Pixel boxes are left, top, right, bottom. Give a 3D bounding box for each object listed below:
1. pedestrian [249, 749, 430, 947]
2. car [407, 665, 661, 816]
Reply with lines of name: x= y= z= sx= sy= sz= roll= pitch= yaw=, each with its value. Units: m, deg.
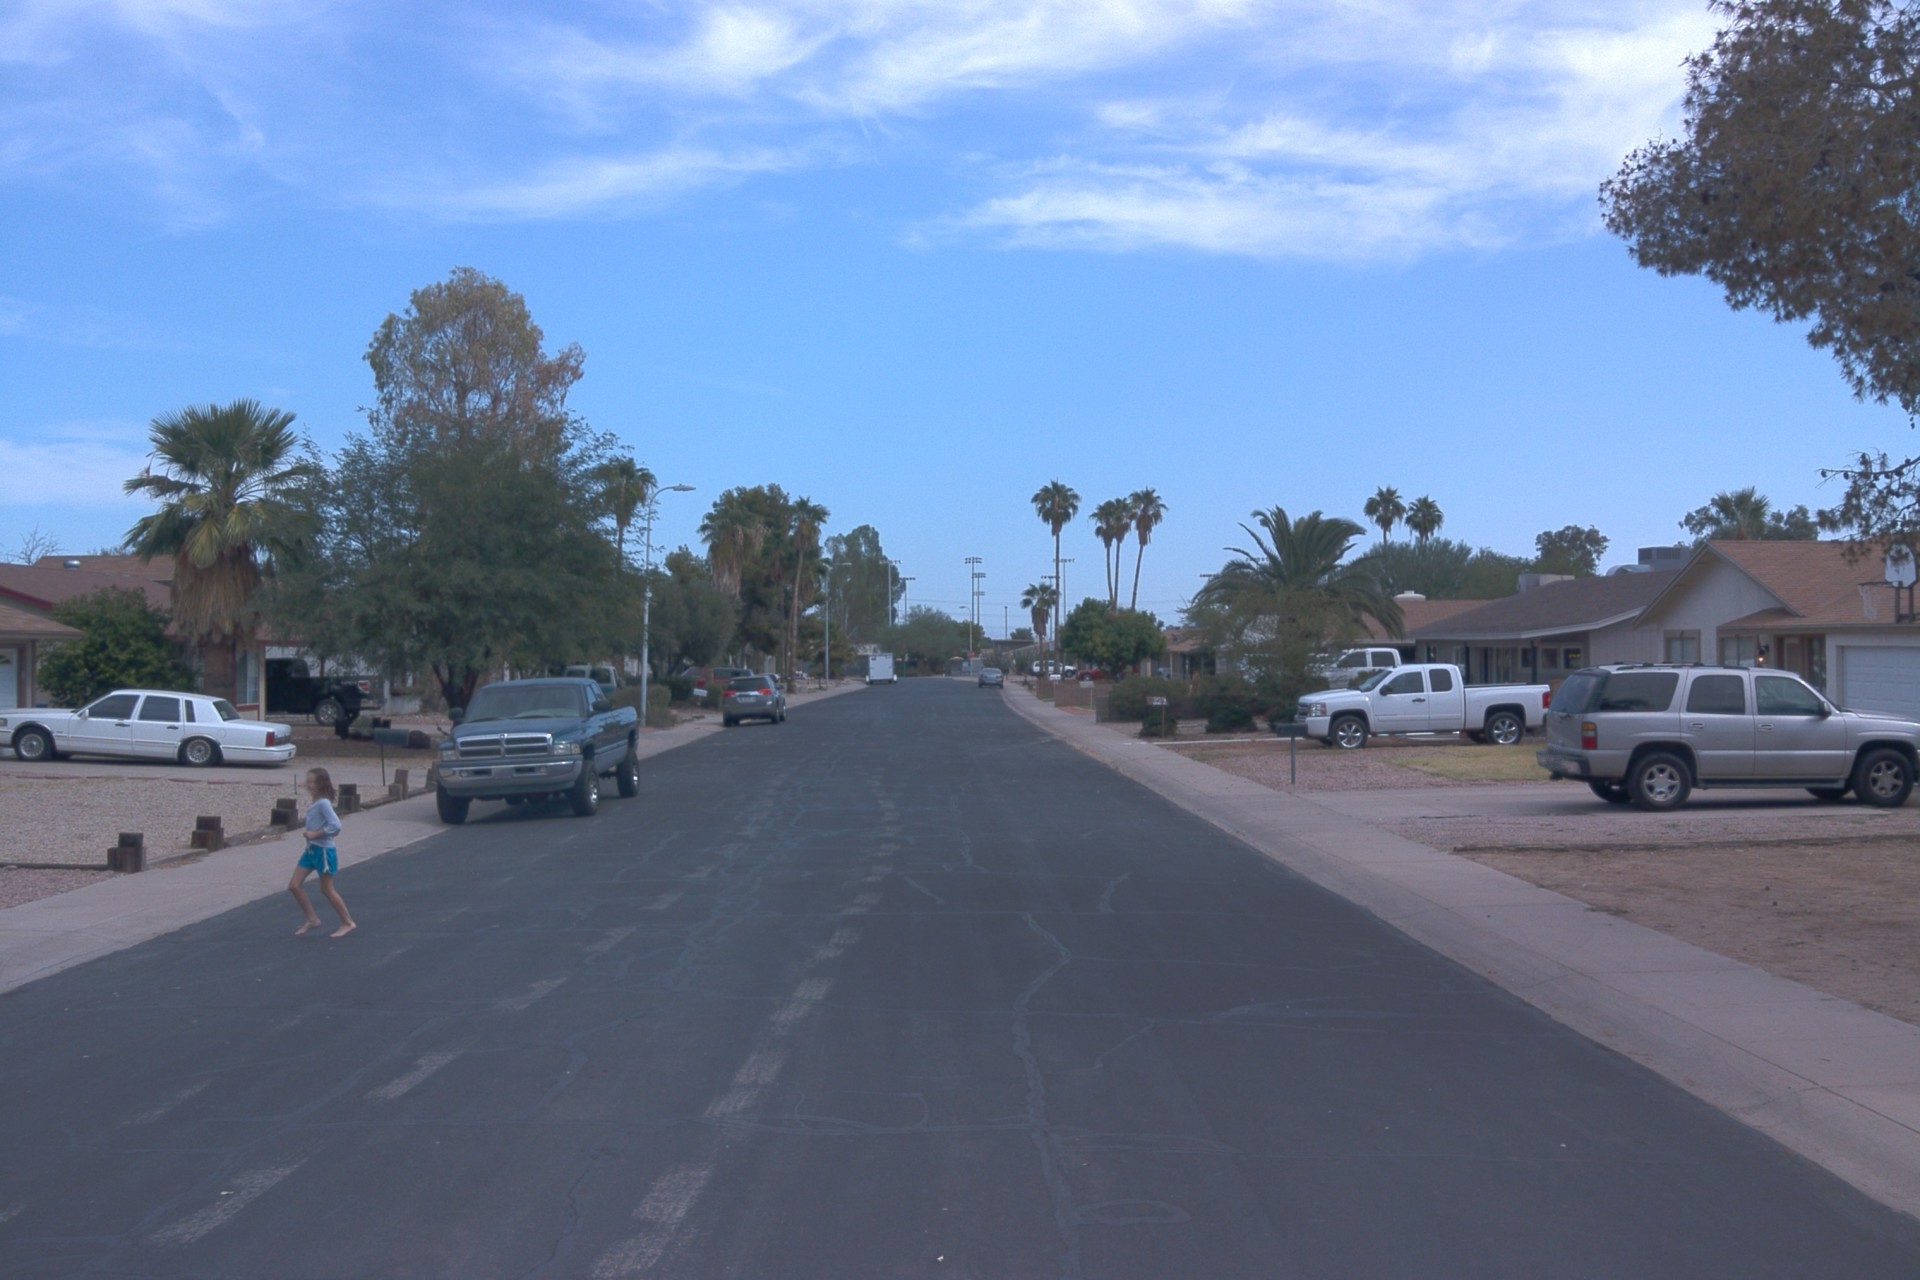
pedestrian: x=-4.843 y=1.589 z=16.154 sx=1.130 sy=1.420 sz=0.949 roll=1 pitch=-1 yaw=-32
car: x=-6.165 y=1.384 z=30.877 sx=2.461 sy=1.980 sz=6.208 roll=0 pitch=-1 yaw=0
